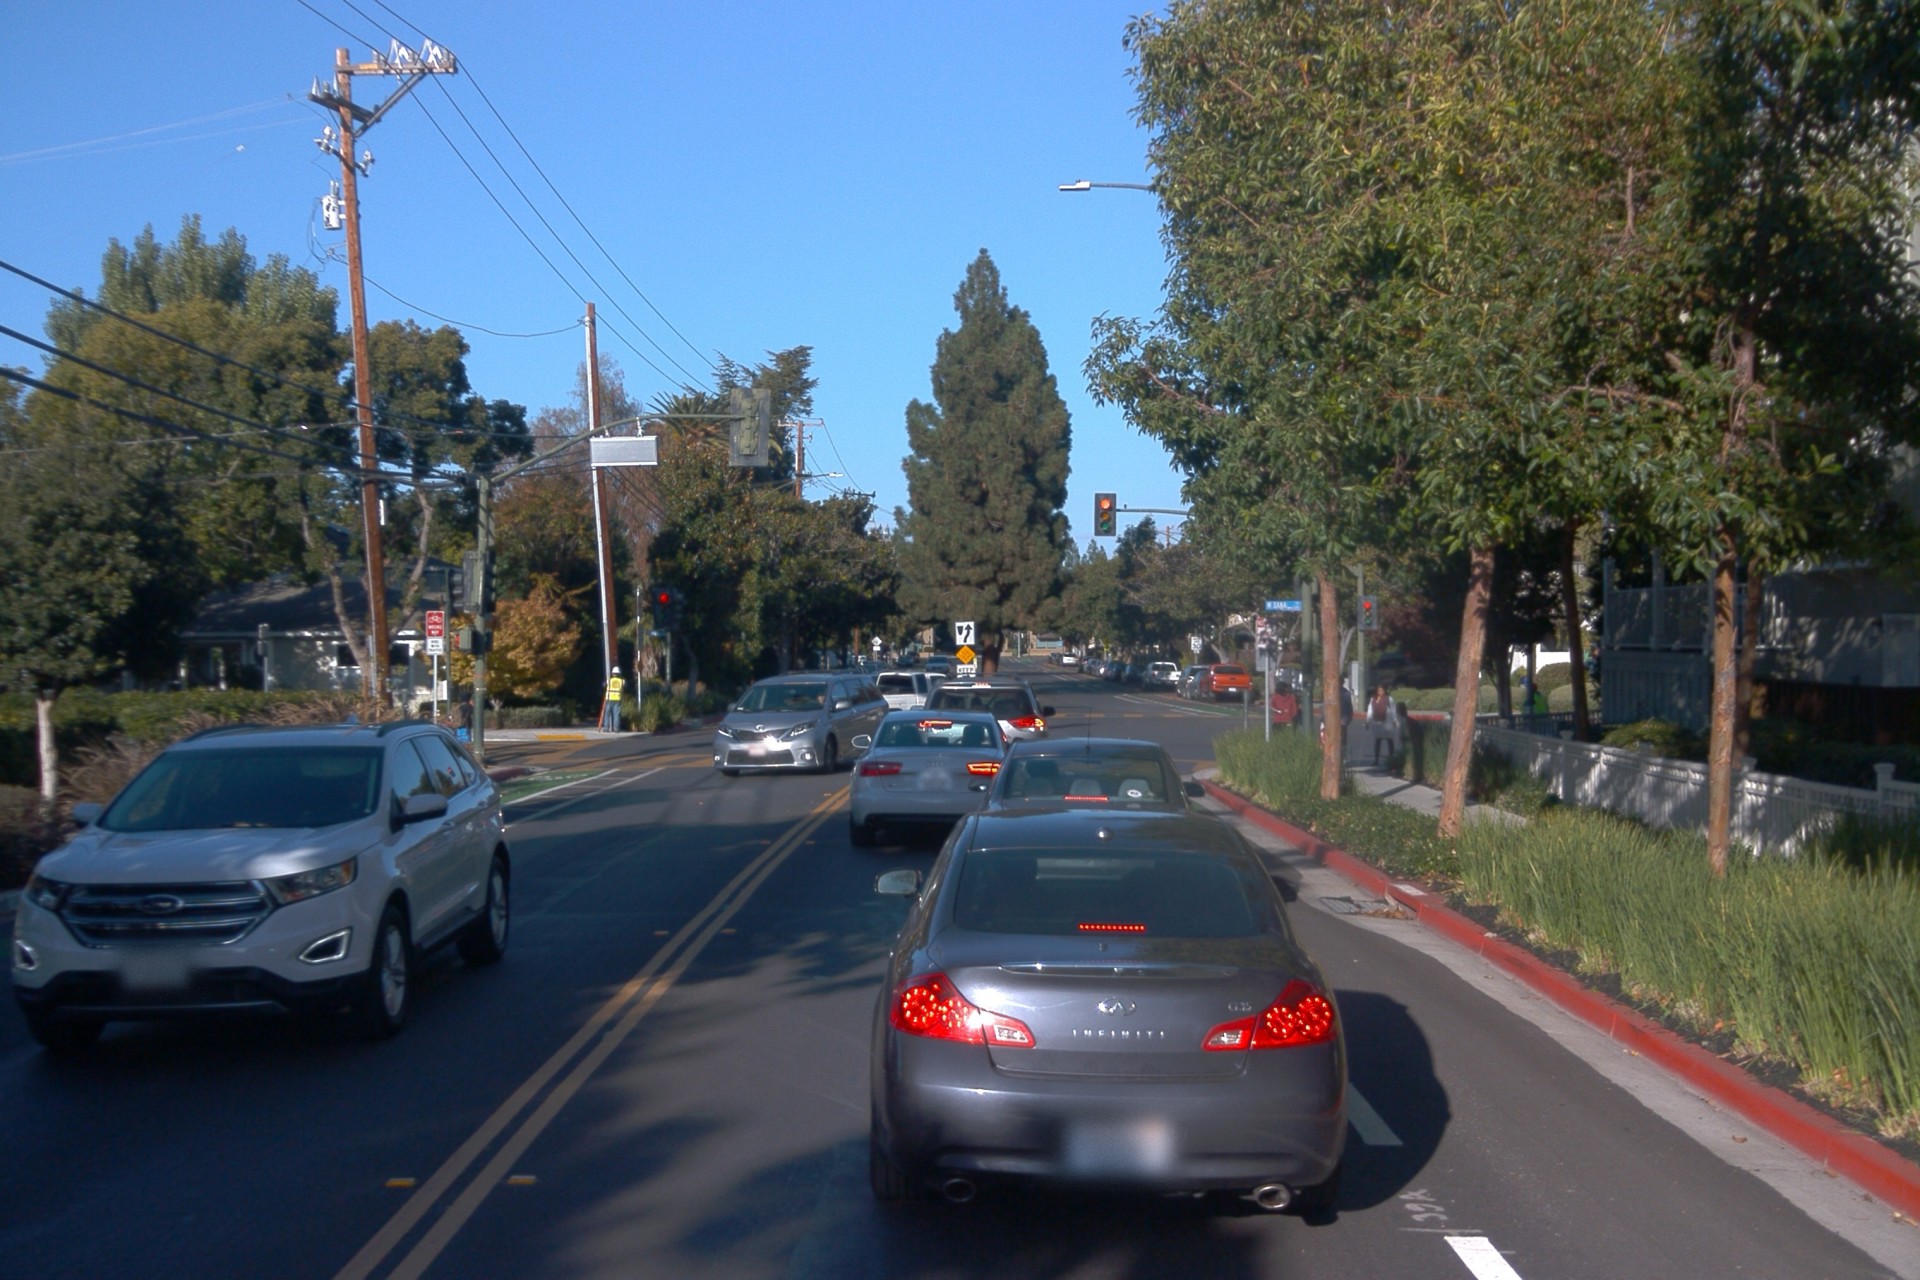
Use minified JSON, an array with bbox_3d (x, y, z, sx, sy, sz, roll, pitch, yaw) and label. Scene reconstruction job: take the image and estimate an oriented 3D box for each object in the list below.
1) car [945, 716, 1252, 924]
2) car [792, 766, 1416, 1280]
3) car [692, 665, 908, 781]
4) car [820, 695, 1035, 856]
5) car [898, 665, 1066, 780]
[{"bbox_3d":[0.991,1.271,15.846,2.028,1.210,4.035,1,0,2],"label":"car"},{"bbox_3d":[0.566,1.428,9.064,2.033,1.460,4.435,1,0,3],"label":"car"},{"bbox_3d":[-2.771,1.413,37.465,2.317,1.870,5.068,1,0,15],"label":"car"},{"bbox_3d":[-0.262,1.447,23.532,2.122,1.500,4.397,1,0,3],"label":"car"},{"bbox_3d":[0.354,1.176,31.289,2.317,1.510,4.744,1,0,1],"label":"car"}]
